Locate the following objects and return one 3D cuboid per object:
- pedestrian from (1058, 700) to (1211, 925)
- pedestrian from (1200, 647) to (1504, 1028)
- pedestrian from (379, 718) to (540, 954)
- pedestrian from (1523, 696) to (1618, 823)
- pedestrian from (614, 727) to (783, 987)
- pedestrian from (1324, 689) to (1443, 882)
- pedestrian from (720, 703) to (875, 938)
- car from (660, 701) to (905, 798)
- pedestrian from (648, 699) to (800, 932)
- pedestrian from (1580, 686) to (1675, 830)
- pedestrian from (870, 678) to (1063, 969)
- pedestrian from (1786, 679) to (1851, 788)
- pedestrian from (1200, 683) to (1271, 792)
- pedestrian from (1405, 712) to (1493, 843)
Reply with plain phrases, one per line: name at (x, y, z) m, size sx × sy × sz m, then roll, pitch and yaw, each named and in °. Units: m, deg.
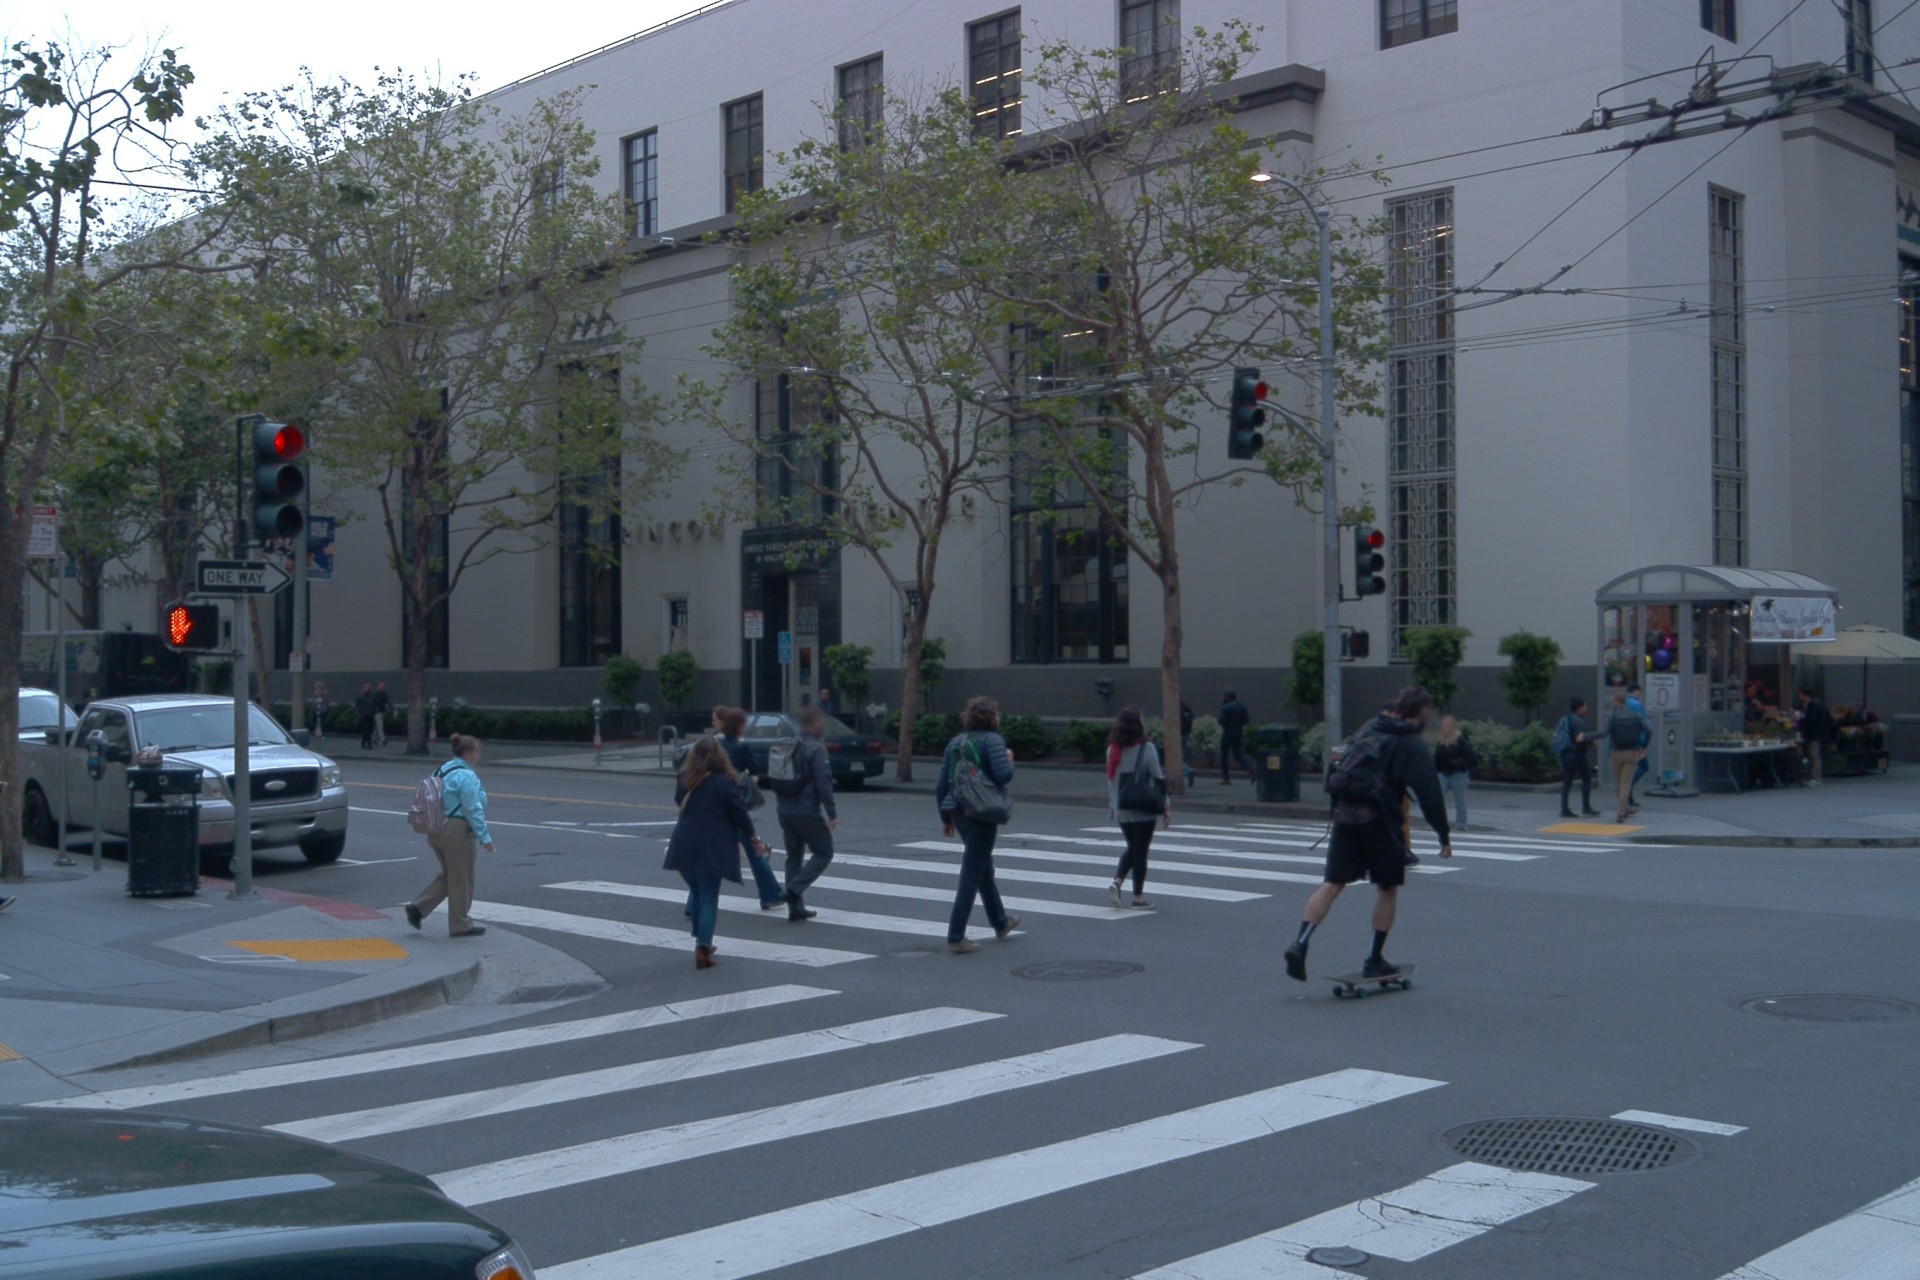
pedestrian at (1.456, 1.400, 17.165) m, size 0.795 × 1.739 × 1.044 m, roll 1°, pitch 1°, yaw 43°
pedestrian at (2.392, 1.120, 12.570) m, size 1.544 × 2.118 × 1.097 m, roll -1°, pitch 1°, yaw -41°
pedestrian at (-4.043, 1.550, 16.676) m, size 1.013 × 1.767 × 0.829 m, roll -1°, pitch 1°, yaw -36°
pedestrian at (8.619, 1.671, 29.148) m, size 0.973 × 1.706 × 0.840 m, roll 0°, pitch 1°, yaw -20°
pedestrian at (-1.874, 1.529, 14.867) m, size 0.883 × 1.741 × 0.891 m, roll 0°, pitch 1°, yaw 21°
pedestrian at (4.095, 1.380, 19.936) m, size 0.716 × 1.771 × 0.964 m, roll 1°, pitch 1°, yaw 44°
pedestrian at (-1.331, 1.445, 16.923) m, size 0.942 × 1.809 × 0.849 m, roll -1°, pitch 1°, yaw -44°
car at (-3.346, 1.973, 38.229) m, size 2.016 × 1.480 × 4.678 m, roll -1°, pitch 1°, yaw -44°
pedestrian at (-1.998, 1.454, 17.517) m, size 0.828 × 1.856 × 0.973 m, roll 1°, pitch 1°, yaw 45°
pedestrian at (9.190, 1.606, 28.414) m, size 1.051 × 1.896 × 0.762 m, roll -1°, pitch 1°, yaw -36°
pedestrian at (0.057, 1.286, 15.026) m, size 0.842 × 1.969 × 1.167 m, roll 1°, pitch 1°, yaw 41°
pedestrian at (14.185, 1.528, 34.109) m, size 0.751 × 1.746 × 0.848 m, roll 1°, pitch 1°, yaw 42°
pedestrian at (4.767, 1.671, 35.707) m, size 0.757 × 1.796 × 0.983 m, roll -1°, pitch 1°, yaw -35°
pedestrian at (6.498, 1.807, 27.421) m, size 0.894 × 1.646 × 0.735 m, roll -1°, pitch 1°, yaw -38°
